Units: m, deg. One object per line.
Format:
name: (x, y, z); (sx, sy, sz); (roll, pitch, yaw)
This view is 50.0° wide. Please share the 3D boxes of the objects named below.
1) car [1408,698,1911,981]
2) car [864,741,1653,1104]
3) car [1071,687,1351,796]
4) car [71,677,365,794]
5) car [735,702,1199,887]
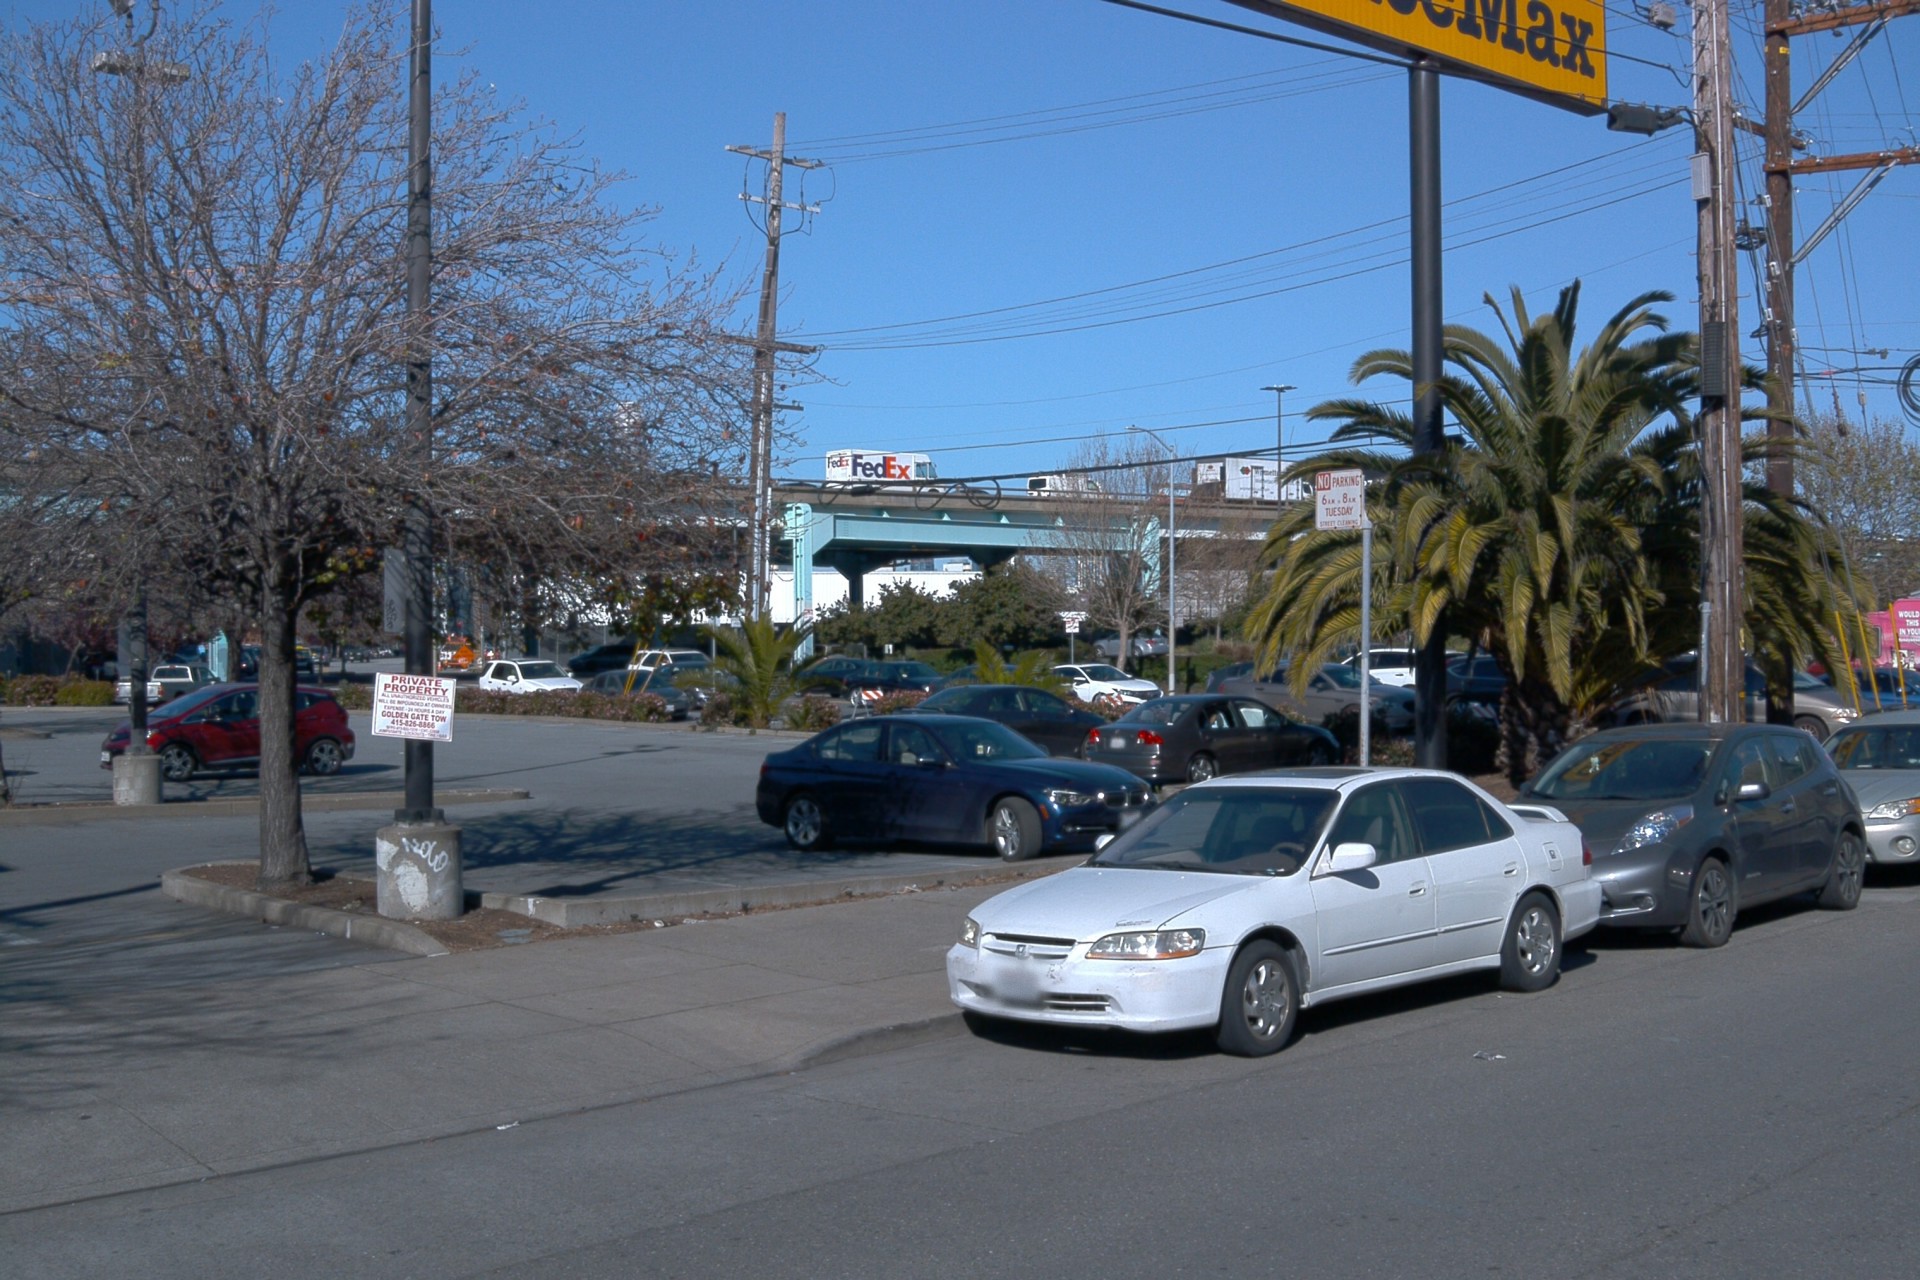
car: (5.442, 1.367, 15.693); (1.943, 1.680, 4.354); (1, 1, 44)
car: (1.957, 1.462, 12.235); (4.874, 1.440, 2.116); (0, 1, -44)
car: (3.904, 1.511, 31.604); (4.332, 1.440, 1.733); (0, 1, -39)
car: (-12.337, 1.530, 34.336); (4.161, 1.700, 2.024); (0, 1, -44)
car: (-0.010, 1.505, 21.408); (4.573, 1.510, 2.073); (1, 1, 41)
